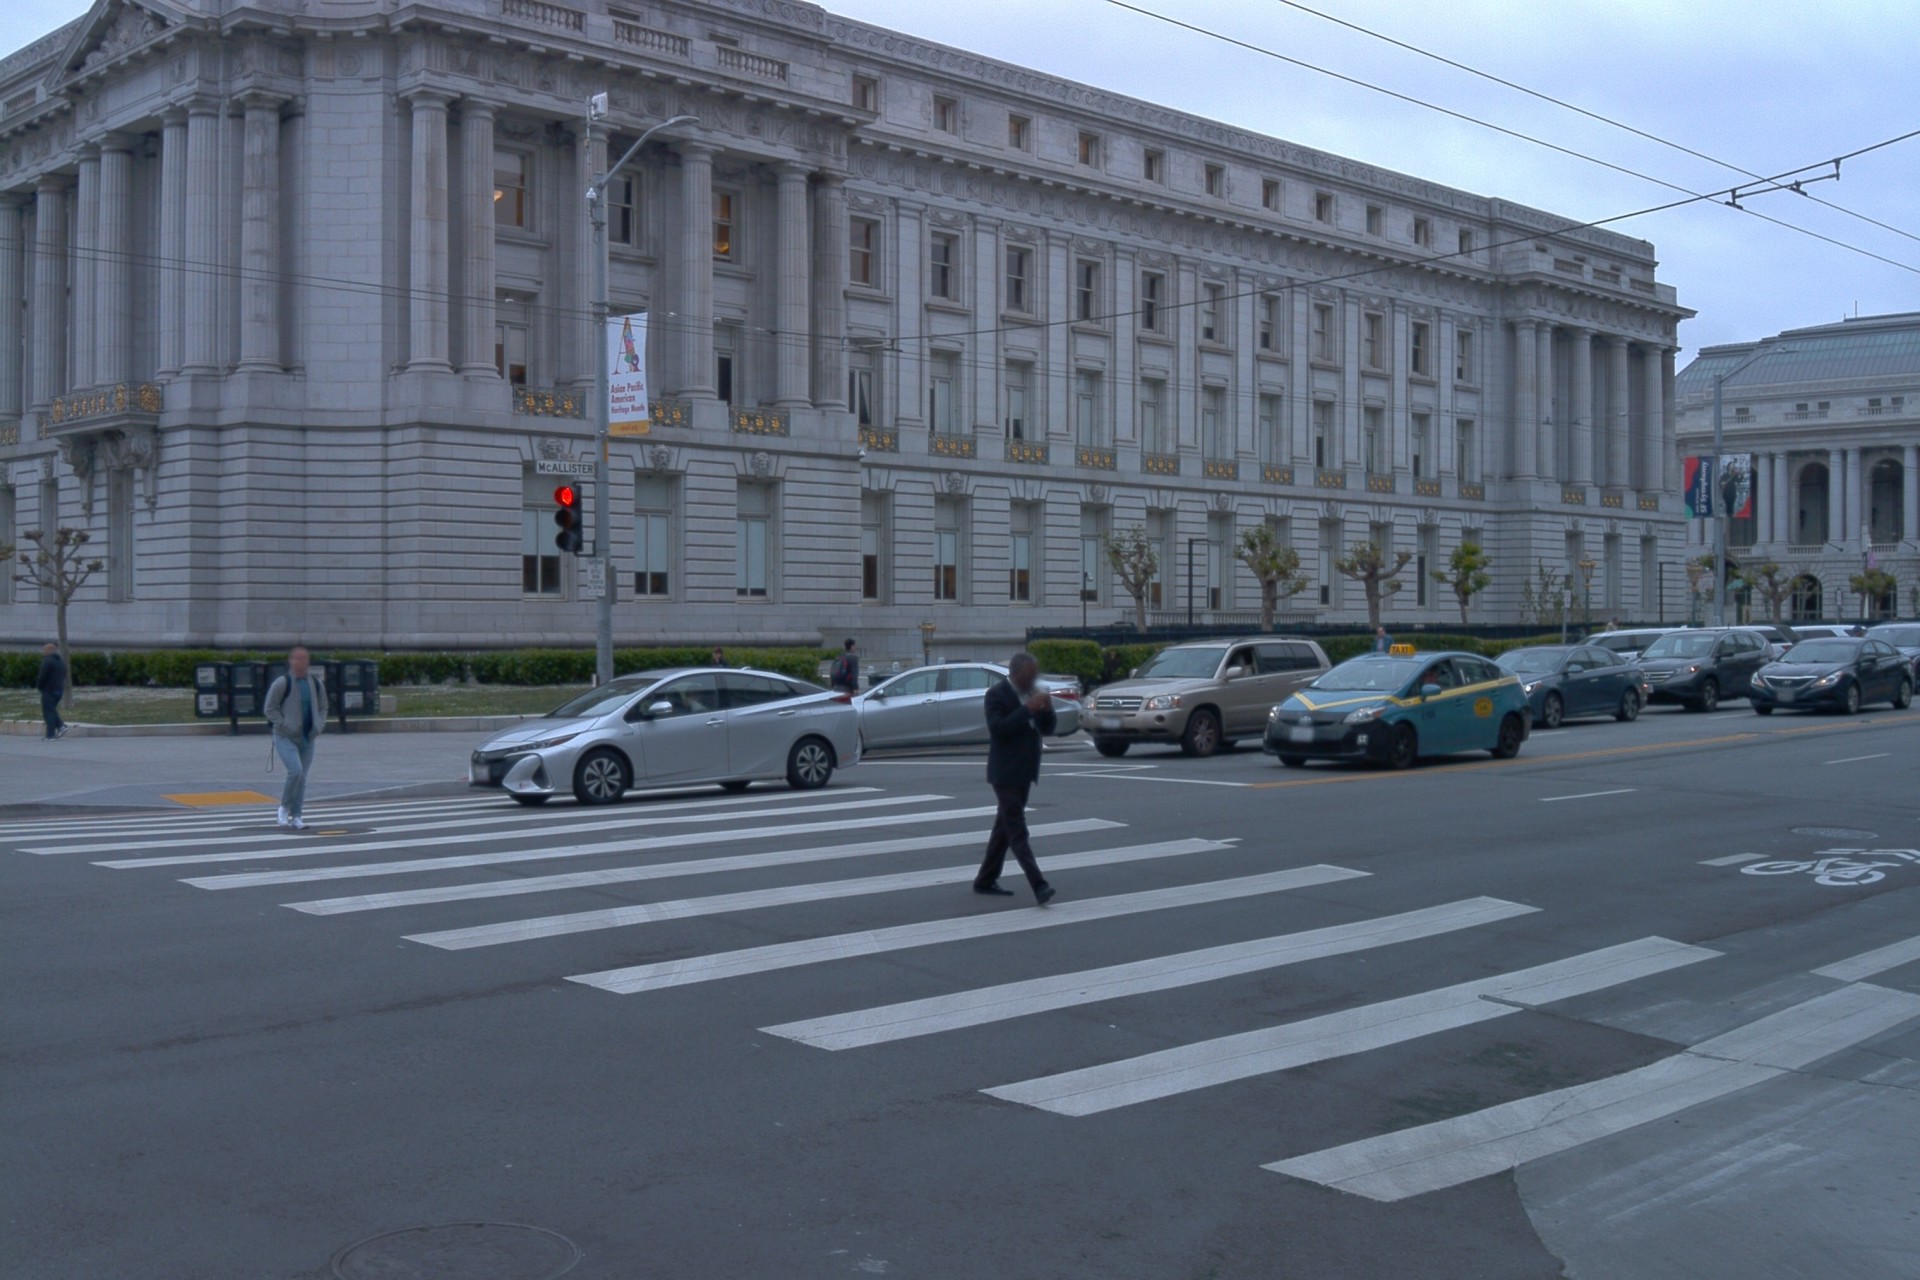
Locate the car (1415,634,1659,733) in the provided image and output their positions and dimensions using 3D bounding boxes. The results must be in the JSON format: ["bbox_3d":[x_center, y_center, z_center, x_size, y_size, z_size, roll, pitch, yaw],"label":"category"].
[{"bbox_3d":[10.331,0.715,36.774,2.141,1.627,4.788,1,1,44],"label":"car"}]

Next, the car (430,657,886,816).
[{"bbox_3d":[-3.341,1.003,23.365,4.666,1.540,2.143,-1,1,-40],"label":"car"}]

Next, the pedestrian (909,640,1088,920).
[{"bbox_3d":[0.264,0.928,14.343,0.806,1.850,0.958,-1,1,-43],"label":"pedestrian"}]

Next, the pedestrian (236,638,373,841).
[{"bbox_3d":[-6.233,0.914,19.629,0.805,1.850,1.160,-1,1,-43],"label":"pedestrian"}]

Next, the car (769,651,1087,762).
[{"bbox_3d":[-0.454,1.027,32.874,4.904,1.667,2.106,0,1,4],"label":"car"}]

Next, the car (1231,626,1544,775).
[{"bbox_3d":[5.709,0.718,27.284,2.040,1.787,4.328,1,1,44],"label":"car"}]

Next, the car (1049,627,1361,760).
[{"bbox_3d":[3.717,0.712,30.738,2.180,1.800,4.766,1,1,44],"label":"car"}]

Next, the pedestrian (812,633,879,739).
[{"bbox_3d":[-2.033,0.804,36.636,0.806,1.850,0.871,1,1,40],"label":"pedestrian"}]
